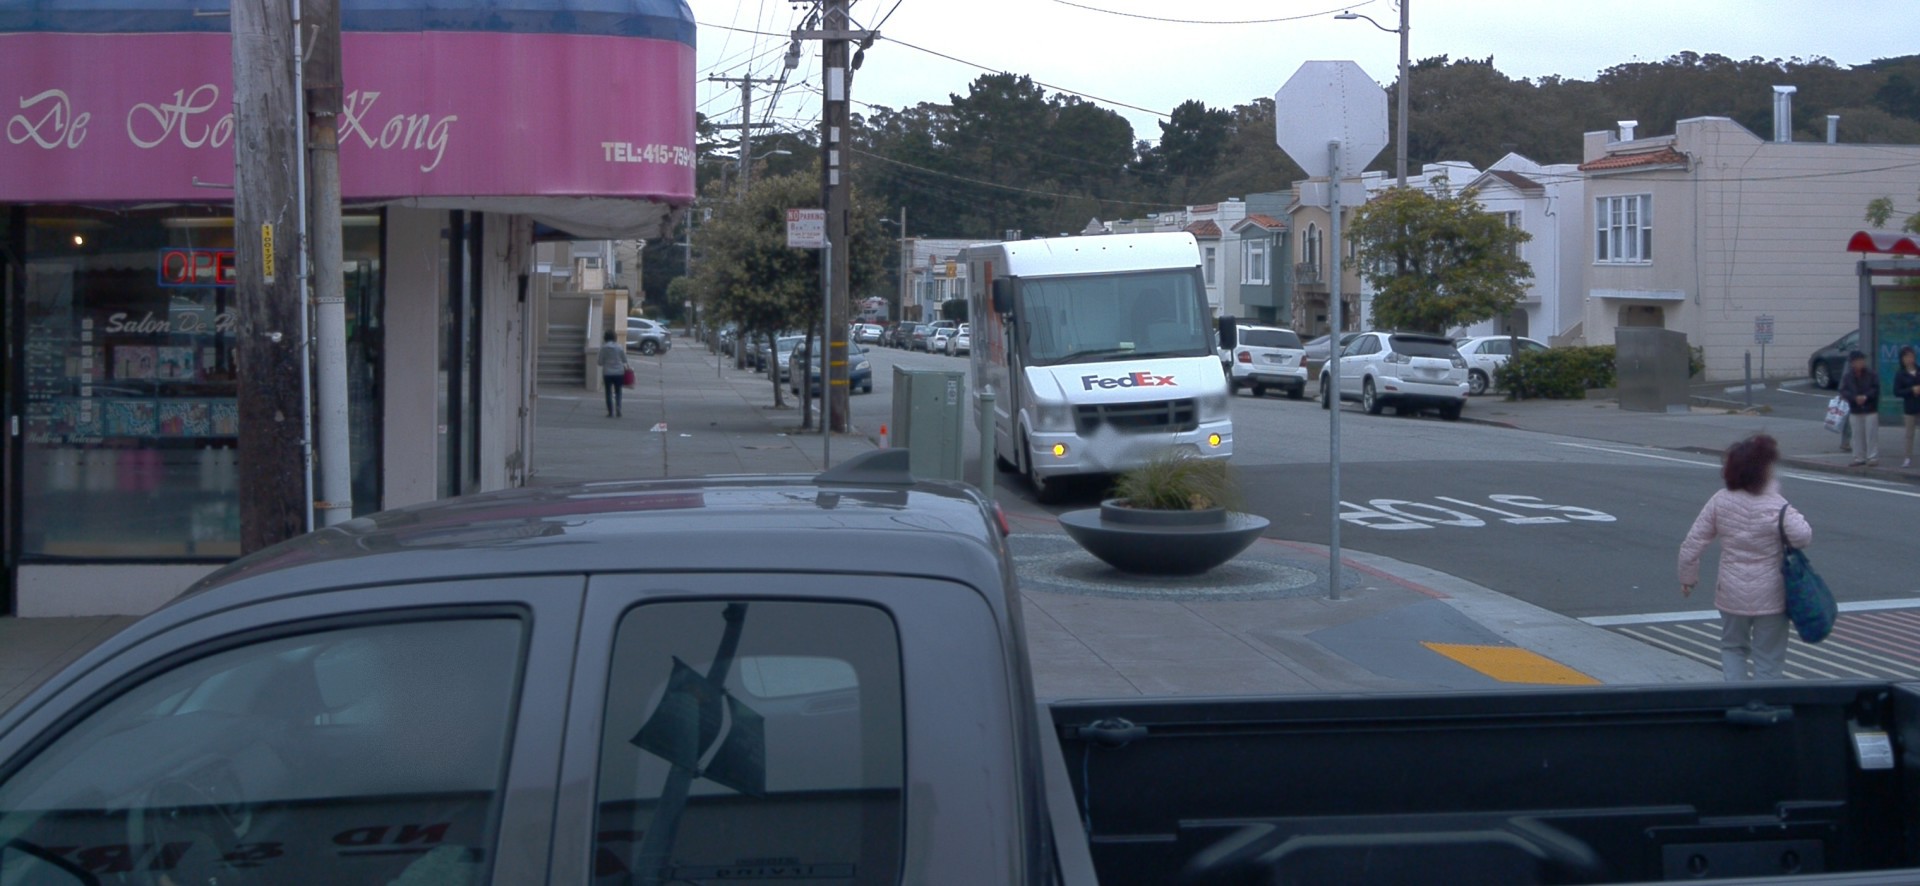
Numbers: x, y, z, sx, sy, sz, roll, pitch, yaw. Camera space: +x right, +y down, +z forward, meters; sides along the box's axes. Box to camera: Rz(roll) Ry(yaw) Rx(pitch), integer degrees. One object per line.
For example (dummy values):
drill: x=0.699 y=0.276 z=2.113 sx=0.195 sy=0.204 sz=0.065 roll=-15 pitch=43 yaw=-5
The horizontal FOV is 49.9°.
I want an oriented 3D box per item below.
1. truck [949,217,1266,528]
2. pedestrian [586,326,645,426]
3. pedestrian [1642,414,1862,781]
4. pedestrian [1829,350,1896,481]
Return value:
truck: x=1.468 y=-1.112 z=24.289 sx=2.690 sy=3.011 sz=7.383 roll=-1 pitch=6 yaw=-4
pedestrian: x=-6.057 y=-1.186 z=36.272 sx=0.939 sy=1.678 sz=0.686 roll=0 pitch=2 yaw=-3
pedestrian: x=3.659 y=0.663 z=9.508 sx=0.907 sy=1.476 sz=0.857 roll=1 pitch=3 yaw=23
pedestrian: x=11.782 y=-0.376 z=26.917 sx=0.682 sy=1.607 sz=0.713 roll=1 pitch=2 yaw=35
